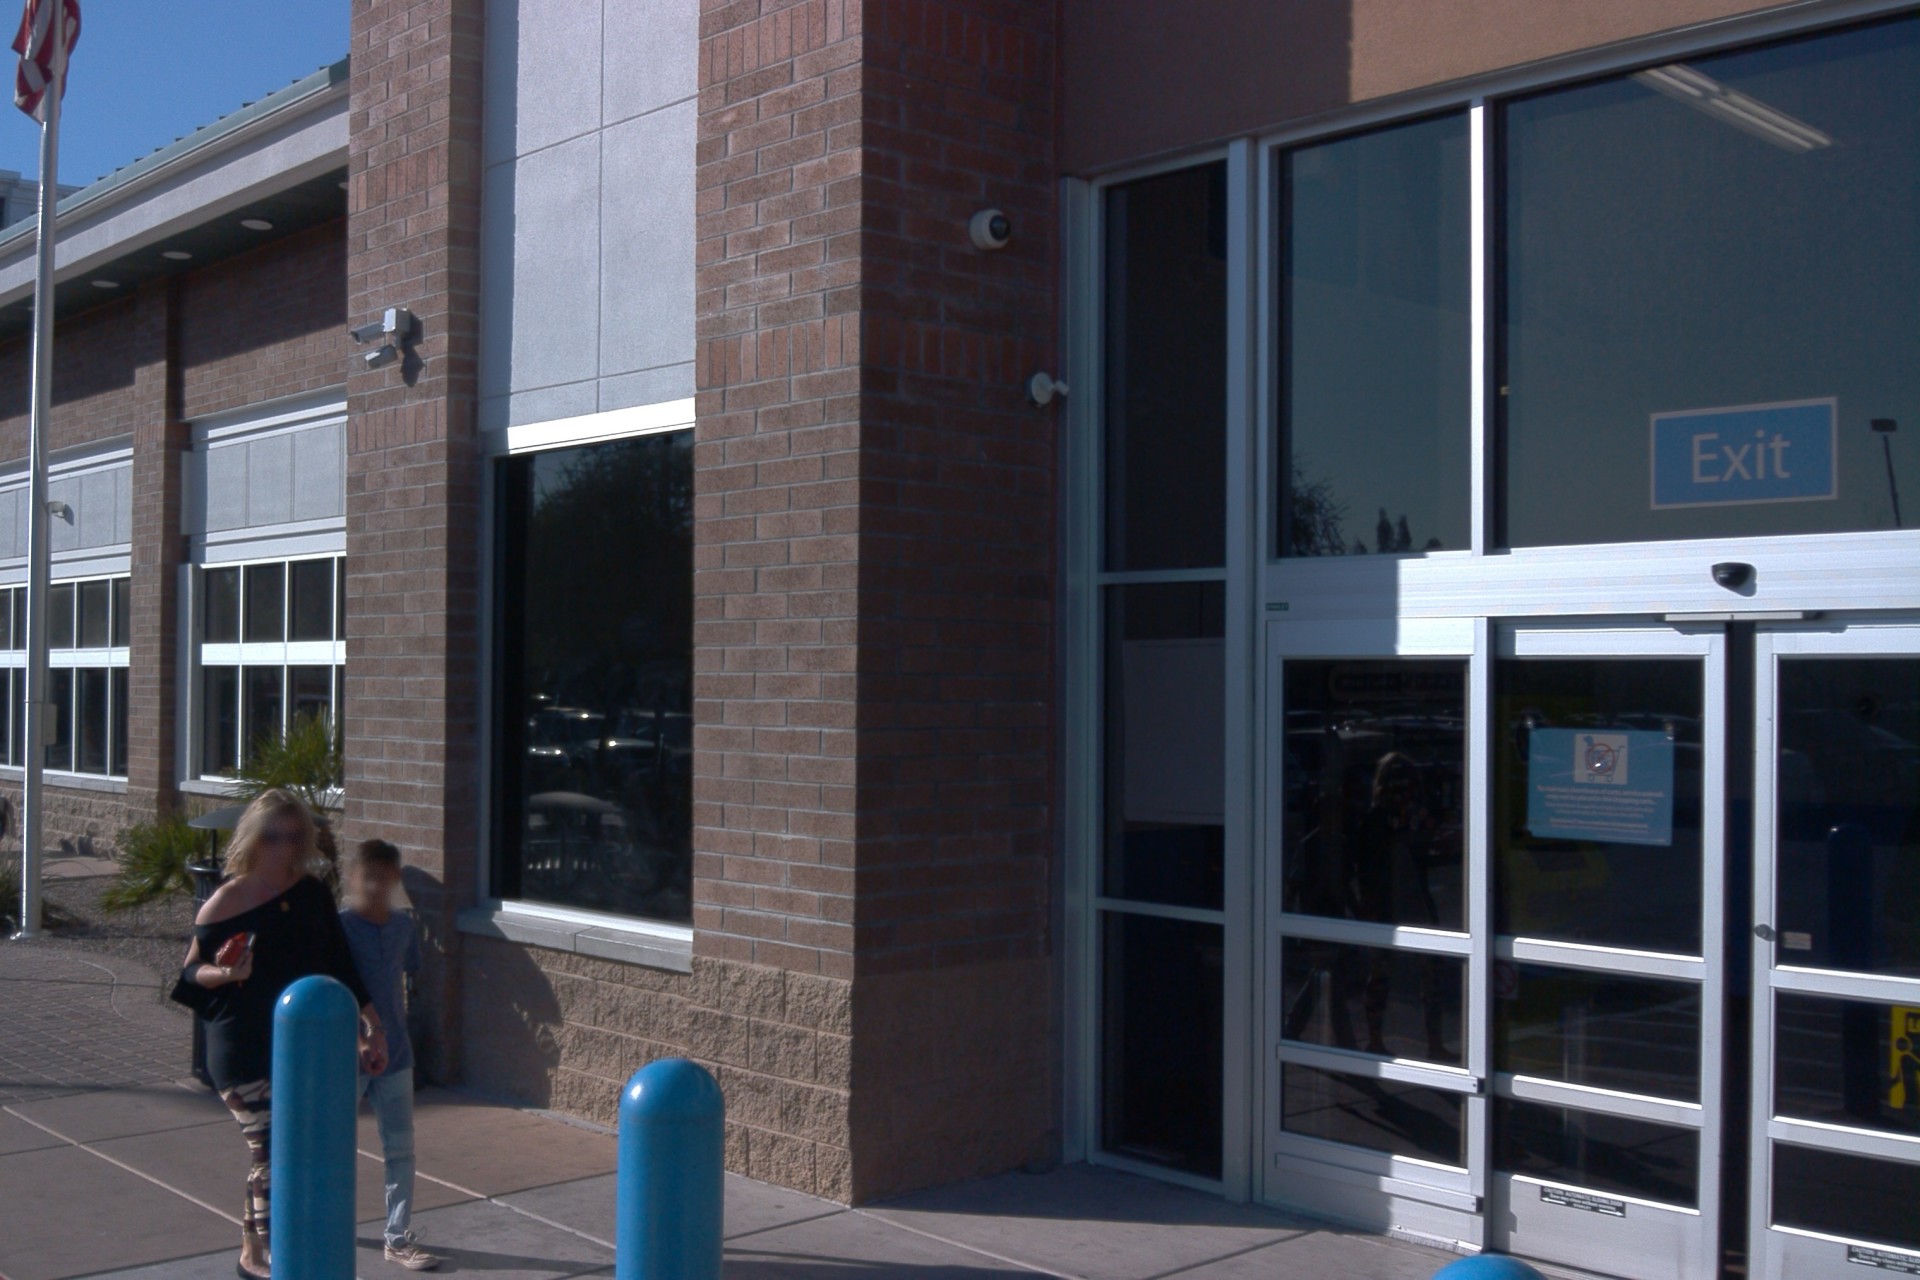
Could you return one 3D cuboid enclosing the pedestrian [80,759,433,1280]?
[{"bbox_3d":[-2.191,1.270,6.454,0.782,1.750,0.735,0,0,38],"label":"pedestrian"}]

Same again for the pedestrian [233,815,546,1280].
[{"bbox_3d":[-1.905,1.368,6.920,0.709,1.490,0.734,0,0,40],"label":"pedestrian"}]
